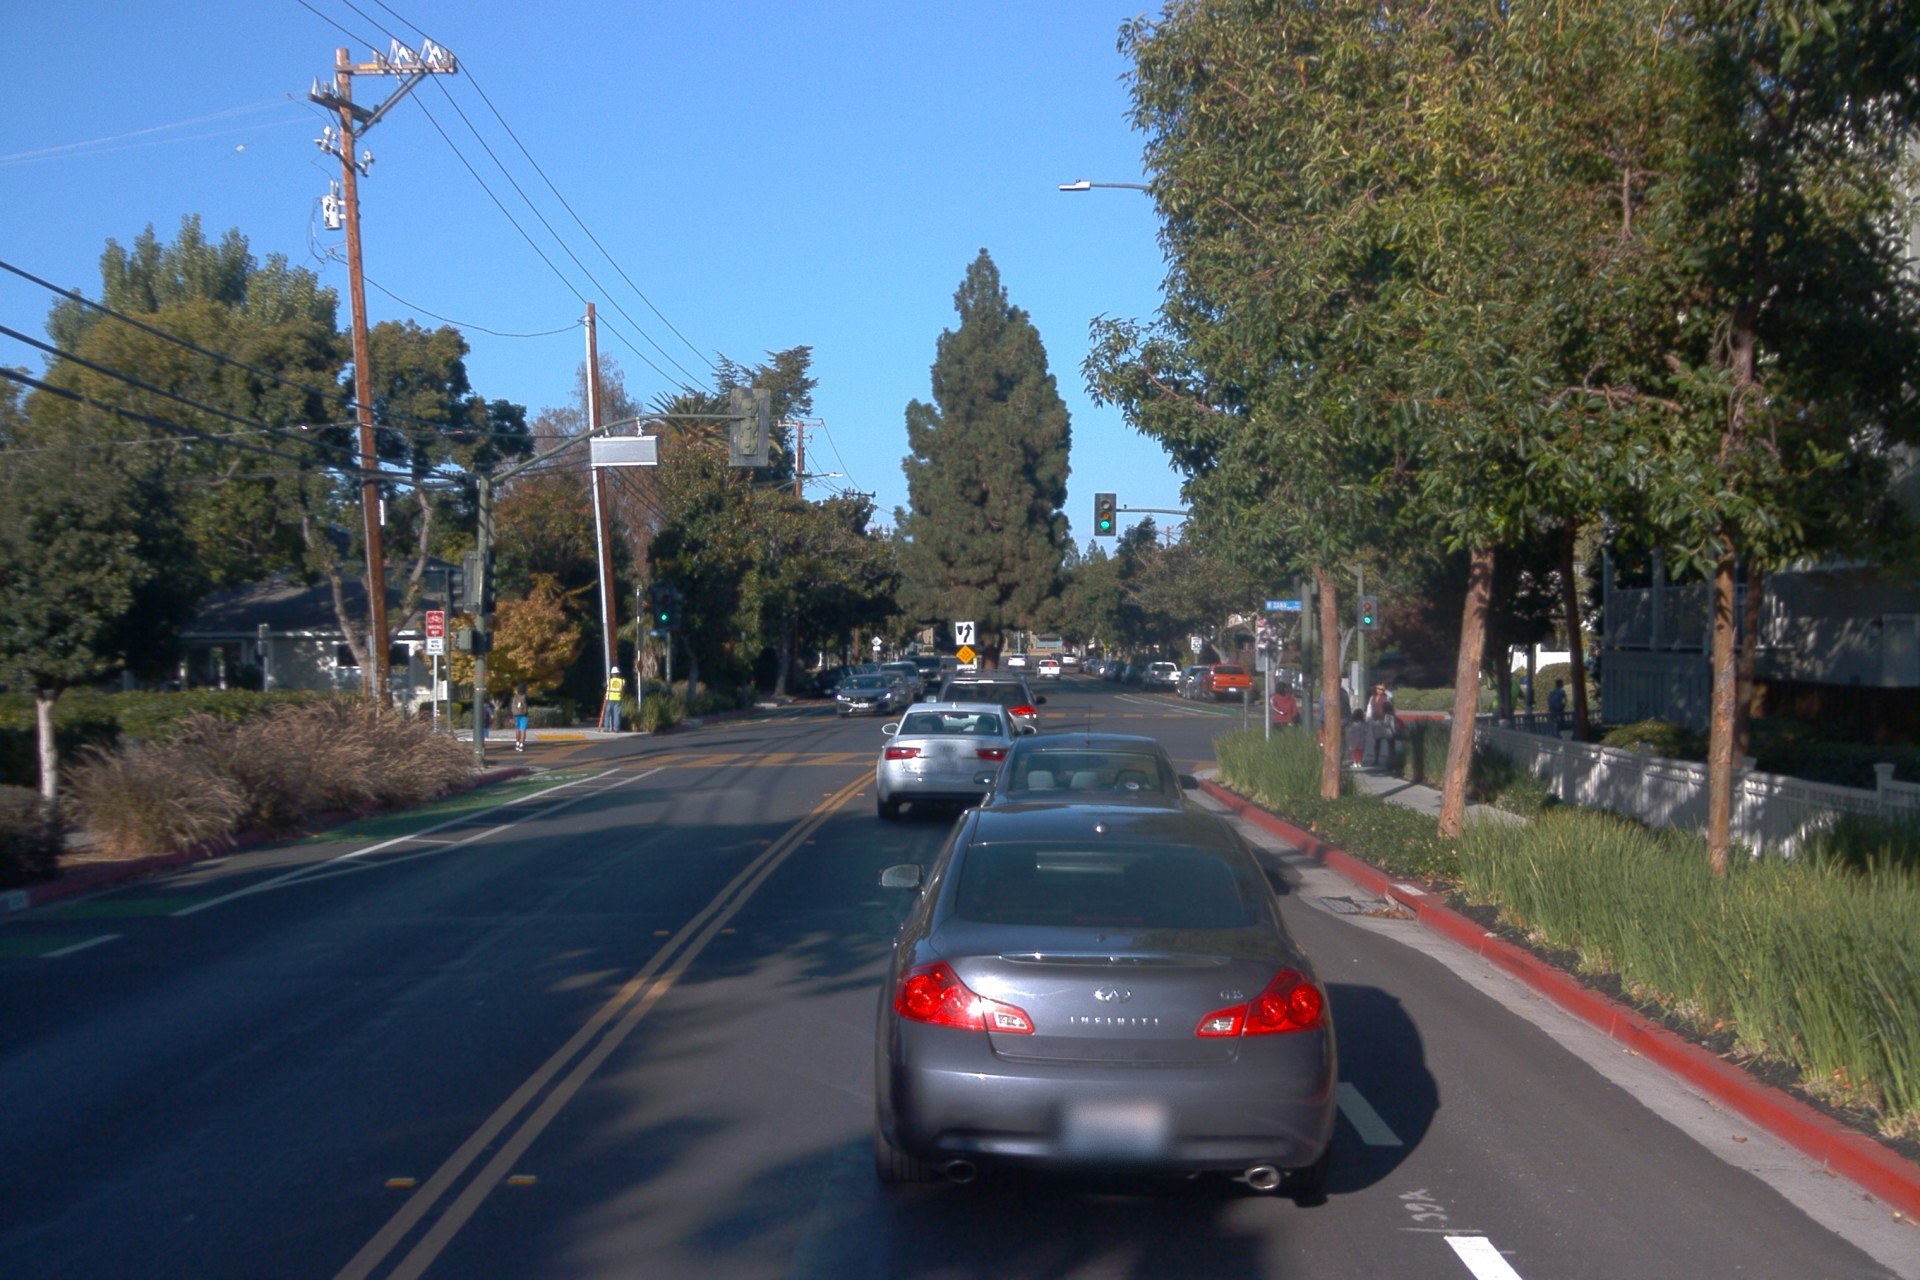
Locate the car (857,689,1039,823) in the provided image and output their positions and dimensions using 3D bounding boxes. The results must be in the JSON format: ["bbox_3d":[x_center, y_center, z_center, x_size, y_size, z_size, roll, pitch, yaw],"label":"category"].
[{"bbox_3d":[-0.065,1.452,27.300,2.122,1.500,4.397,1,0,3],"label":"car"}]

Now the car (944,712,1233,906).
[{"bbox_3d":[1.008,1.266,16.737,2.028,1.210,4.035,1,0,3],"label":"car"}]

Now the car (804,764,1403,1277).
[{"bbox_3d":[0.584,1.432,9.343,2.033,1.460,4.435,1,0,3],"label":"car"}]

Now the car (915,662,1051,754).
[{"bbox_3d":[0.471,1.188,37.965,2.317,1.510,4.744,1,0,2],"label":"car"}]
